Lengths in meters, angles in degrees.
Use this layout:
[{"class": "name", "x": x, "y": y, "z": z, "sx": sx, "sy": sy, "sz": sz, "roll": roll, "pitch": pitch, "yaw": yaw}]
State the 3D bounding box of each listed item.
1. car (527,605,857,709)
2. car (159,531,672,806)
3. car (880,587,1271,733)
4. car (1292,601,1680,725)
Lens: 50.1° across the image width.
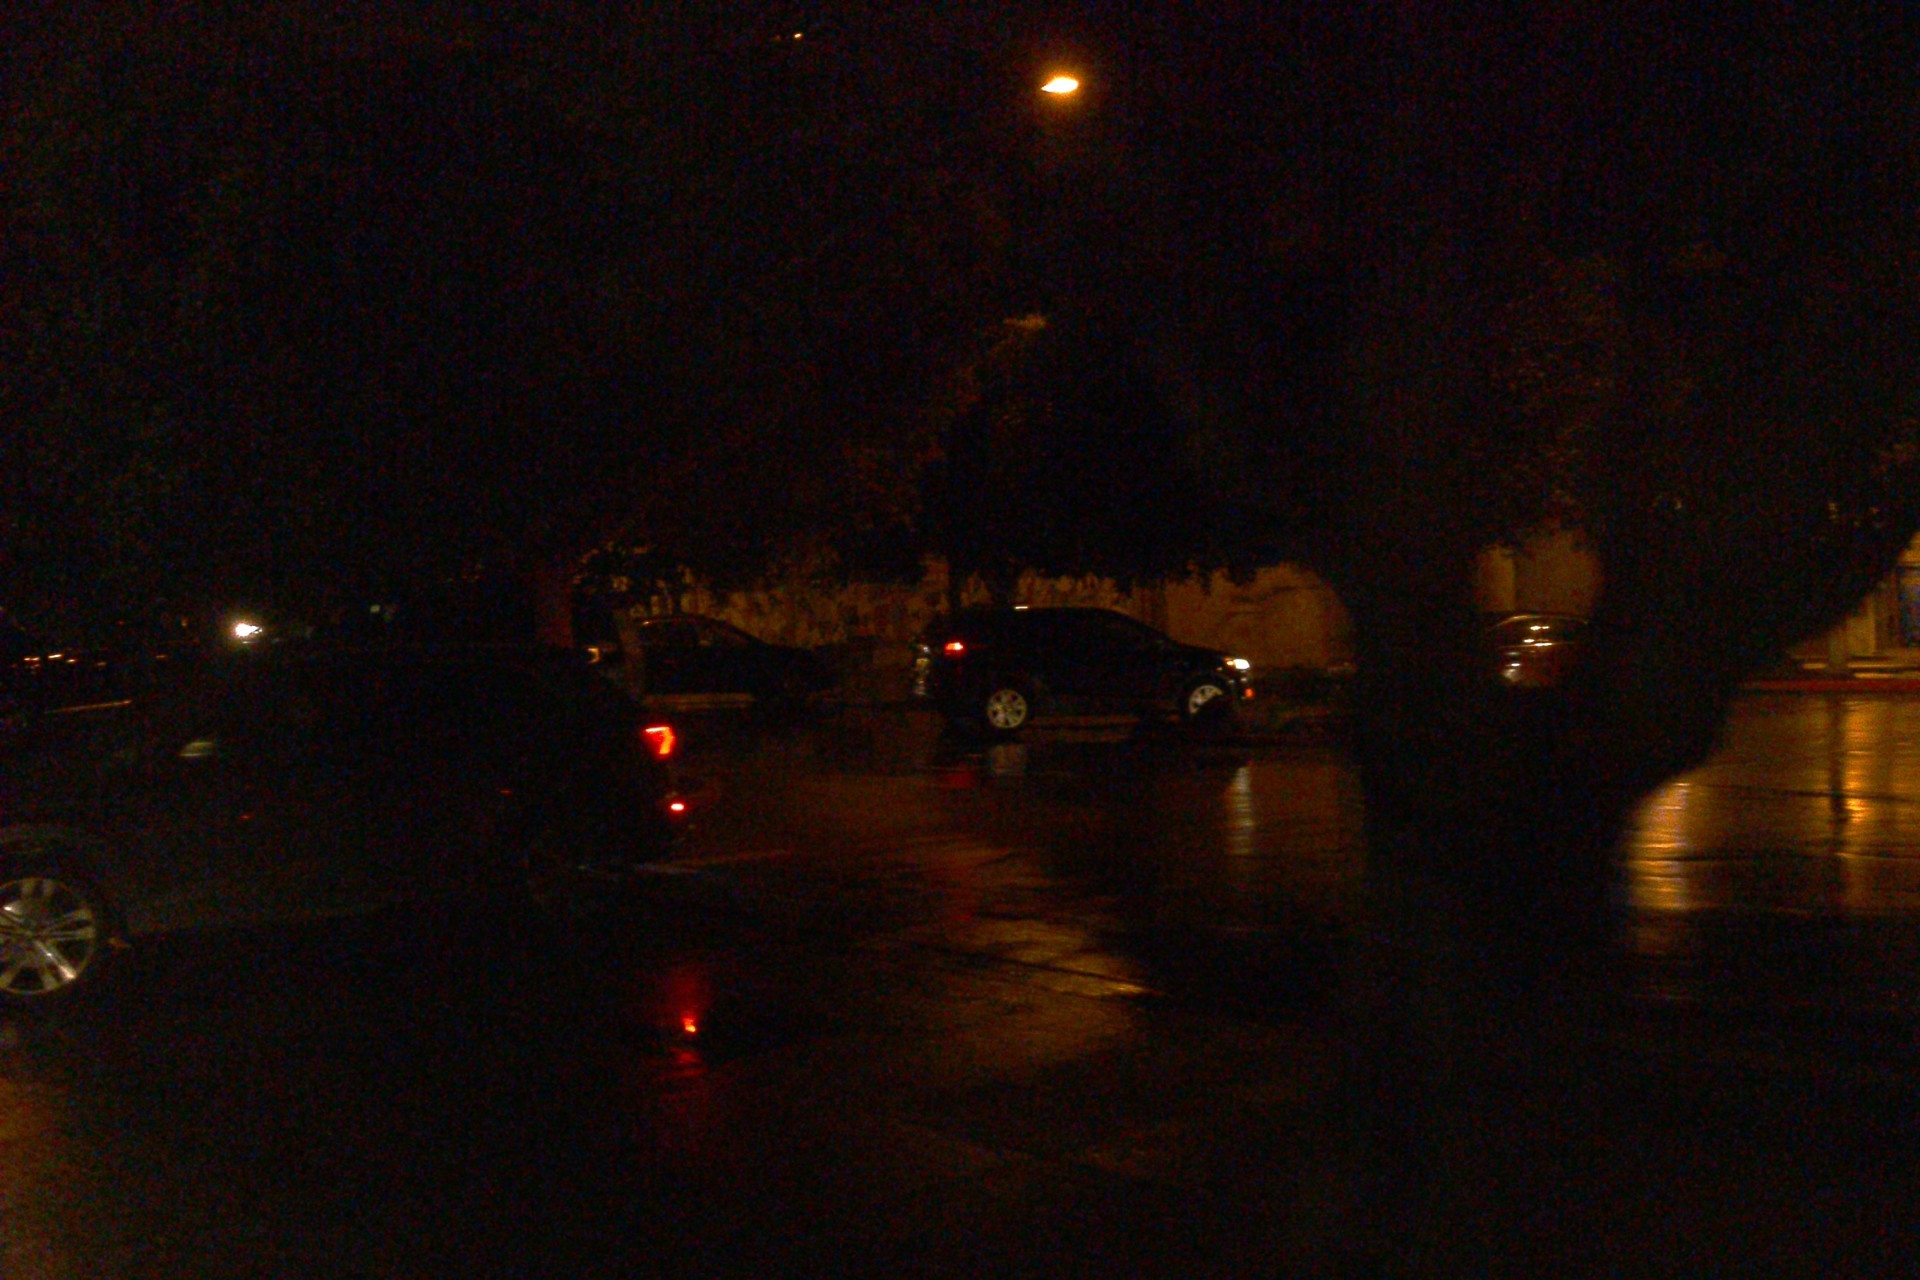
[{"class": "car", "x": -4.344, "y": 0.262, "z": 33.256, "sx": 4.877, "sy": 1.580, "sz": 2.222, "roll": 0, "pitch": 0, "yaw": -22}, {"class": "car", "x": -4.942, "y": 0.219, "z": 19.666, "sx": 2.405, "sy": 2.251, "sz": 5.203, "roll": 0, "pitch": 0, "yaw": 16}, {"class": "car", "x": 1.475, "y": 0.252, "z": 26.722, "sx": 4.585, "sy": 1.774, "sz": 2.143, "roll": 0, "pitch": 0, "yaw": -18}, {"class": "car", "x": 7.221, "y": 0.304, "z": 28.252, "sx": 4.867, "sy": 1.610, "sz": 1.996, "roll": 0, "pitch": 0, "yaw": -20}]
